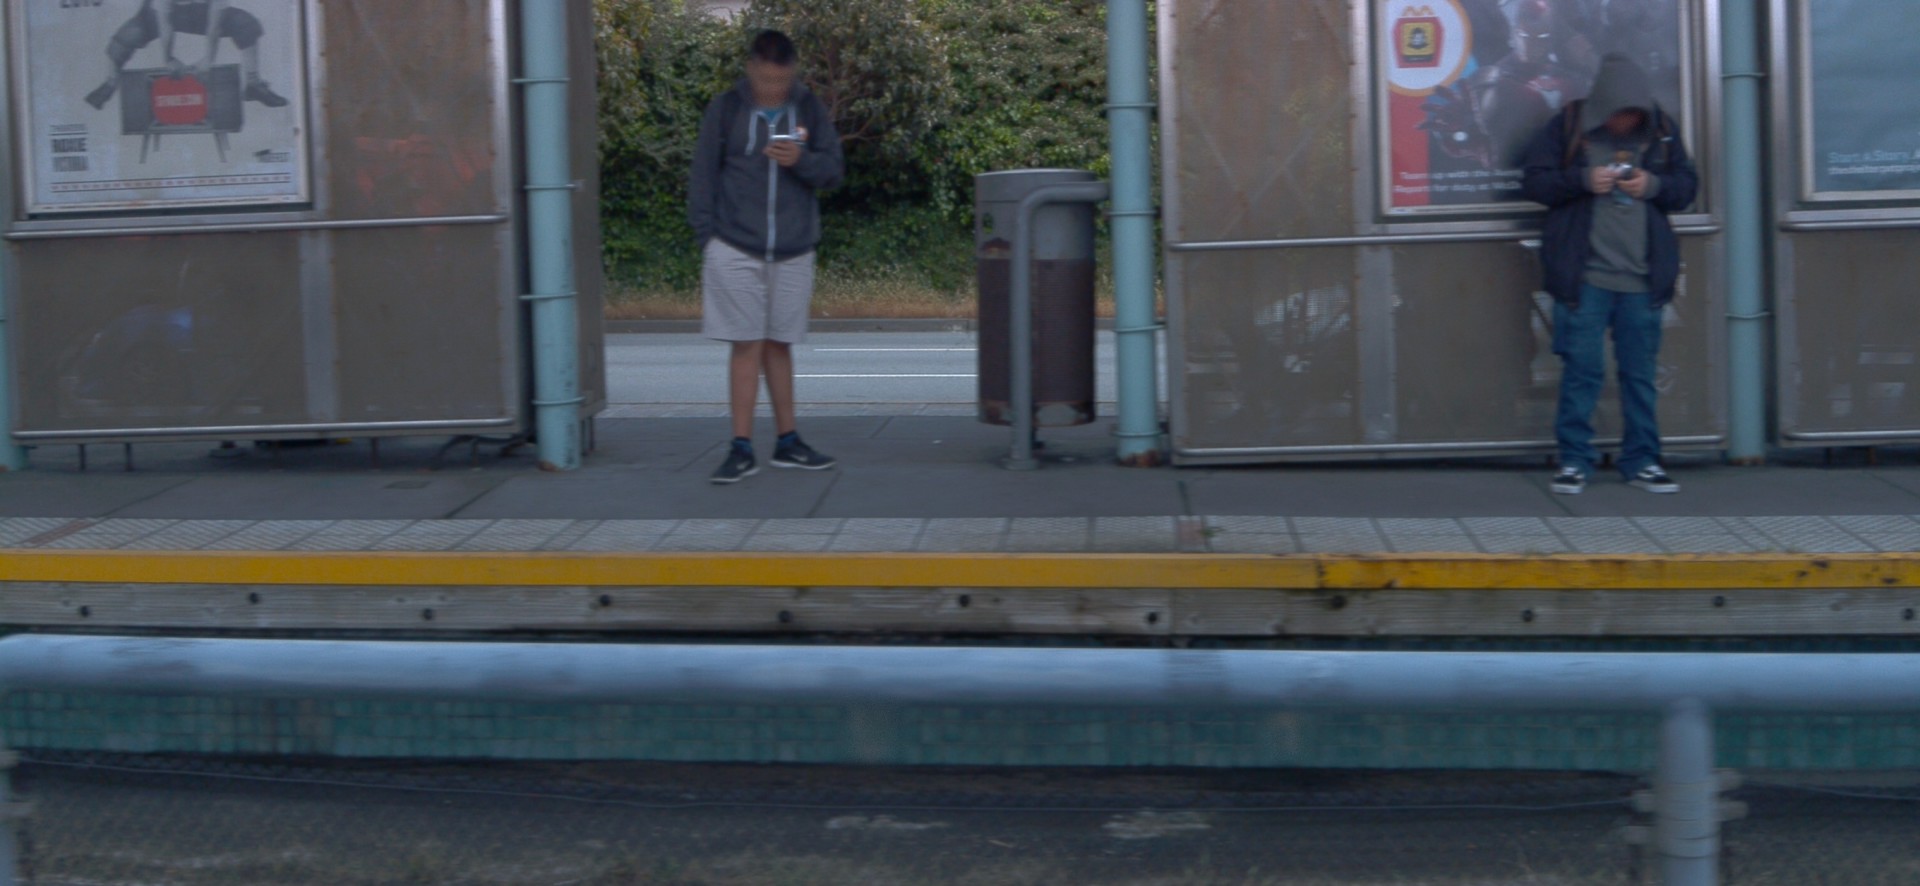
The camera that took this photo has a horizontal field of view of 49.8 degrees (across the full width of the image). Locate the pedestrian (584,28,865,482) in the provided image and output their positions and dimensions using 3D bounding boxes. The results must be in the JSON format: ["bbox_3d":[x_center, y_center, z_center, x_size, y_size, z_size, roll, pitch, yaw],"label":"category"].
[{"bbox_3d":[-0.883,-0.728,7.964,0.930,1.657,0.757,0,2,4],"label":"pedestrian"}]

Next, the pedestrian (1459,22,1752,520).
[{"bbox_3d":[2.285,-0.620,7.393,0.887,1.697,0.616,0,2,5],"label":"pedestrian"}]
